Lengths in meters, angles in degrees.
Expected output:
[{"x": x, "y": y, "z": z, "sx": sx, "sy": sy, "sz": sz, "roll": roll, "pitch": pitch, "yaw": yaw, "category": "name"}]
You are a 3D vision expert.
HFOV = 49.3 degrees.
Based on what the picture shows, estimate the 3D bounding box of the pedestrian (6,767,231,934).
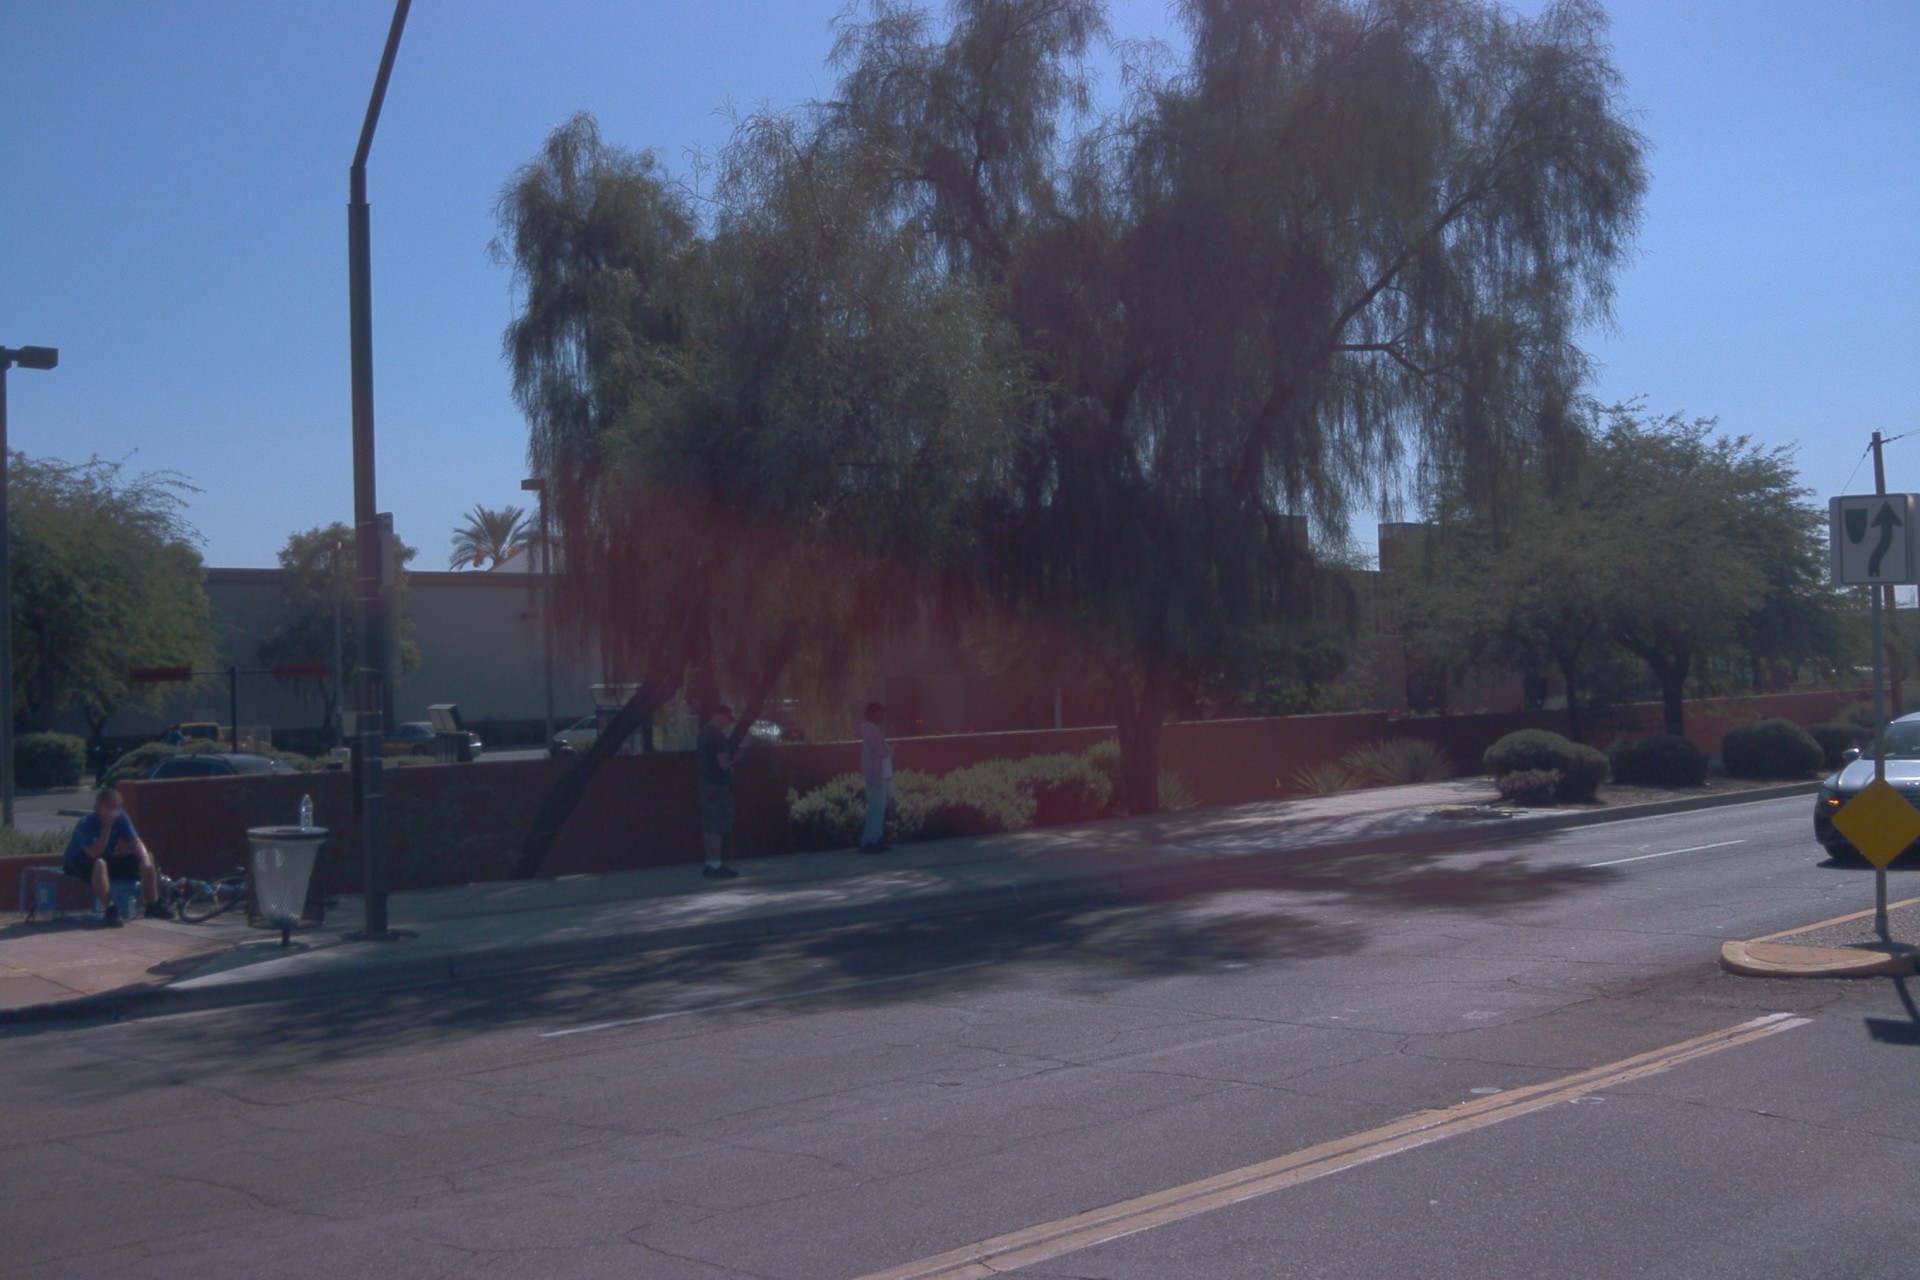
[{"x": -7.381, "y": 1.811, "z": 18.373, "sx": 1.307, "sy": 1.260, "sz": 1.393, "roll": 0, "pitch": 0, "yaw": 42, "category": "pedestrian"}]

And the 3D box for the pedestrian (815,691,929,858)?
[{"x": -1.014, "y": 1.527, "z": 24.148, "sx": 1.008, "sy": 1.830, "sz": 0.847, "roll": 0, "pitch": 0, "yaw": -41, "category": "pedestrian"}]

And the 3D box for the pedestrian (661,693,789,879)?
[{"x": -2.429, "y": 1.479, "z": 21.610, "sx": 1.020, "sy": 1.820, "sz": 0.892, "roll": 0, "pitch": 0, "yaw": -34, "category": "pedestrian"}]
